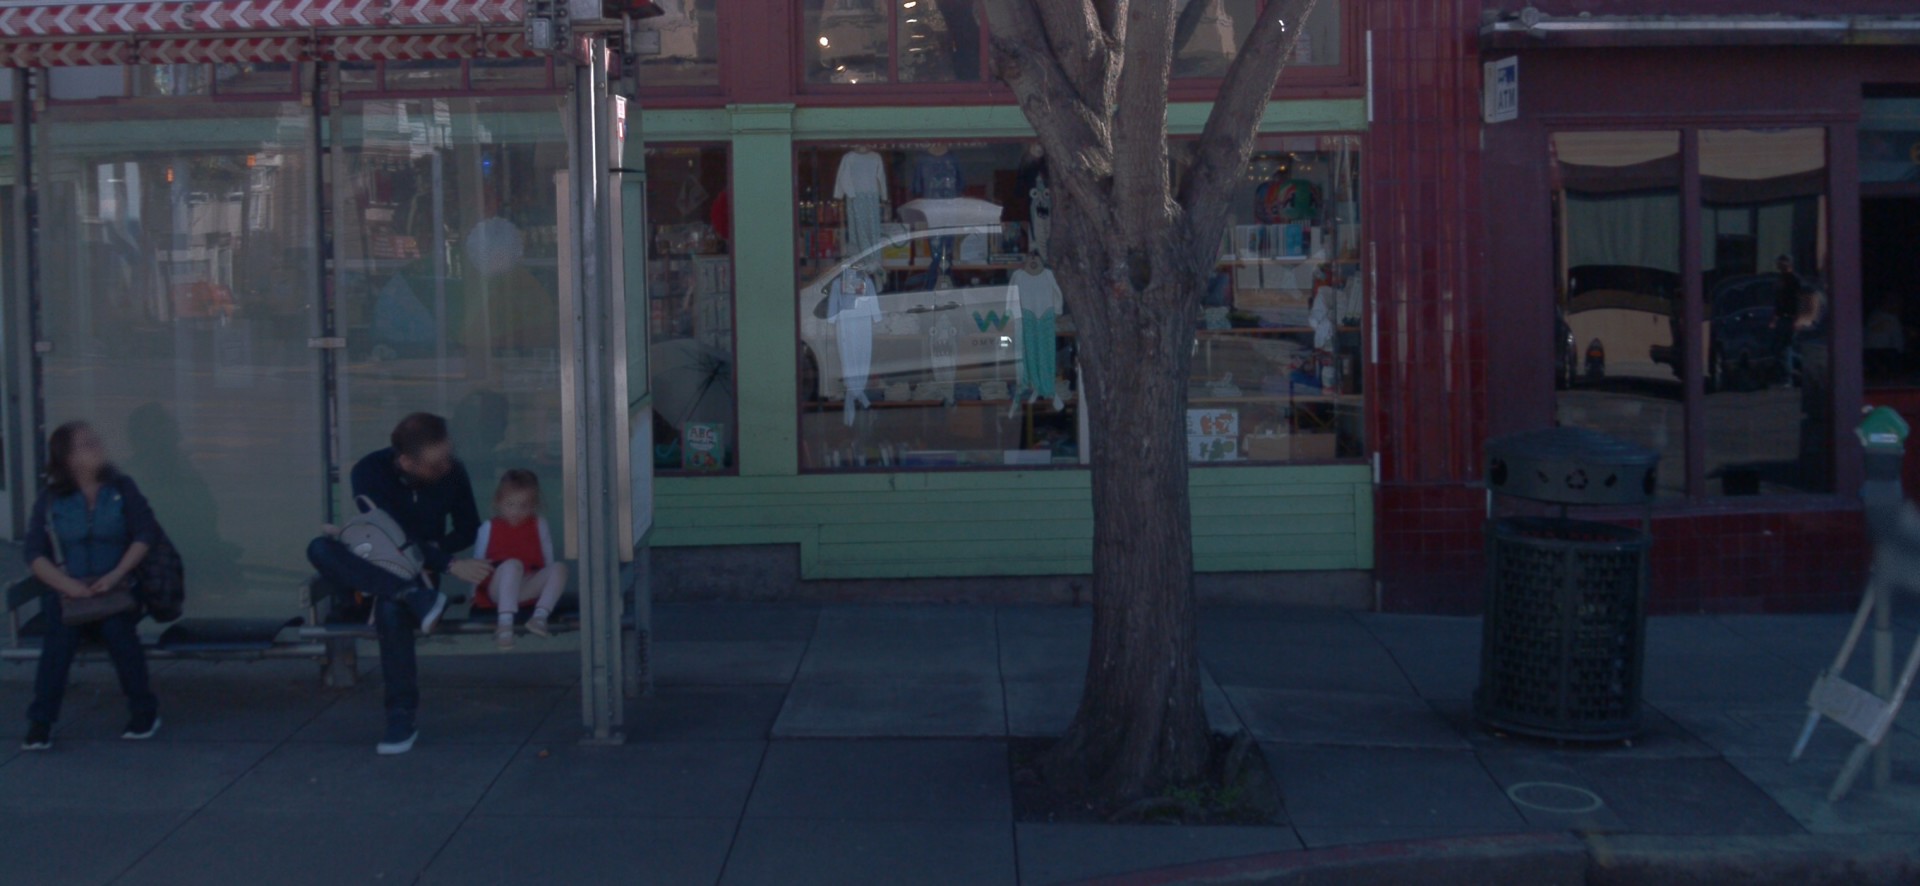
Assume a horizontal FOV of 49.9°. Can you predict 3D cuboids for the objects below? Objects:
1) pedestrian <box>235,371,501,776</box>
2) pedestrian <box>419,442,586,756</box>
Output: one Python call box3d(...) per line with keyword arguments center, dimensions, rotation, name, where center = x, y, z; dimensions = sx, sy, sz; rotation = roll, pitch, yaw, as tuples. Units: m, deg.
box3d(center=(-2.255, 0.459, 7.978), dimensions=(0.753, 1.398, 0.926), rotation=(0, 2, 0), name="pedestrian")
box3d(center=(-1.748, 0.579, 7.954), dimensions=(0.528, 1.098, 0.572), rotation=(0, 2, -3), name="pedestrian")
